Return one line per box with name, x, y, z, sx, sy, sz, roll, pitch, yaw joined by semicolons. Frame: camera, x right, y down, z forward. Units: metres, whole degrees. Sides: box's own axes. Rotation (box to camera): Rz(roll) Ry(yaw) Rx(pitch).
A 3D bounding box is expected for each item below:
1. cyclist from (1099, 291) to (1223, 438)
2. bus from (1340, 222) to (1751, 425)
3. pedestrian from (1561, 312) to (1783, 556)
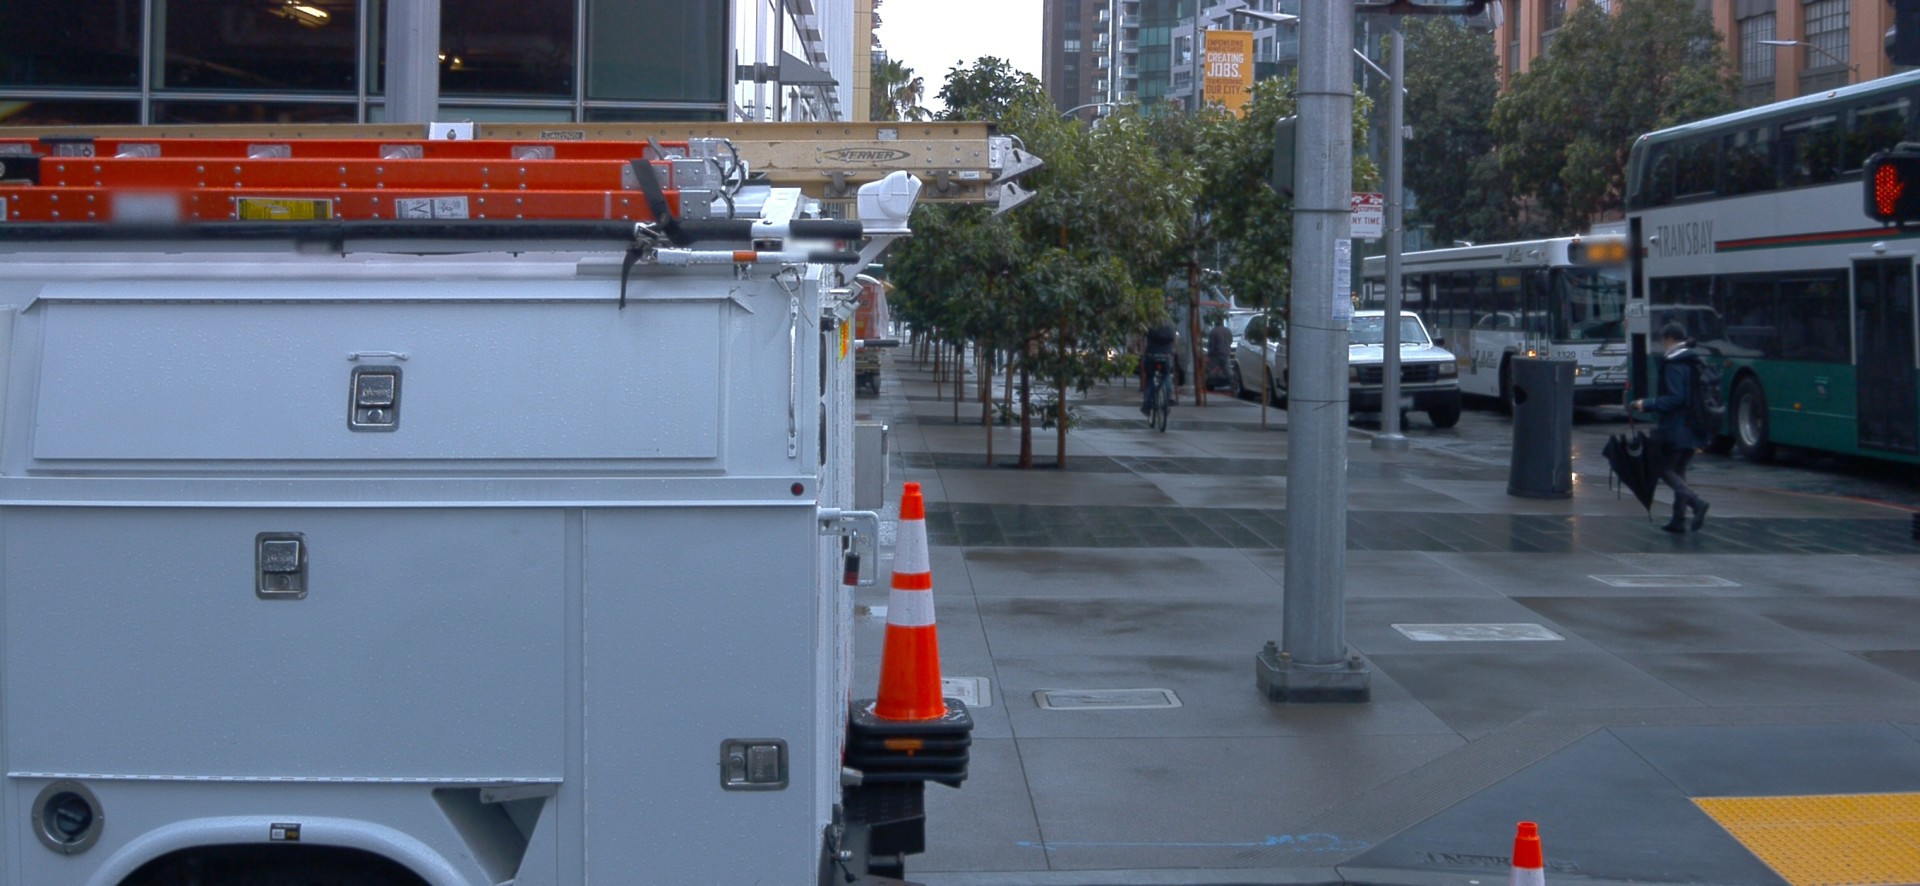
cyclist;2.546;-1.044;26.331;1.210;1.741;2.030;0;4;-5
bus;9.877;-2.417;36.822;3.258;2.996;12.707;0;6;-2
pedestrian;5.167;-0.106;14.913;1.244;1.638;0.910;-1;2;-28
